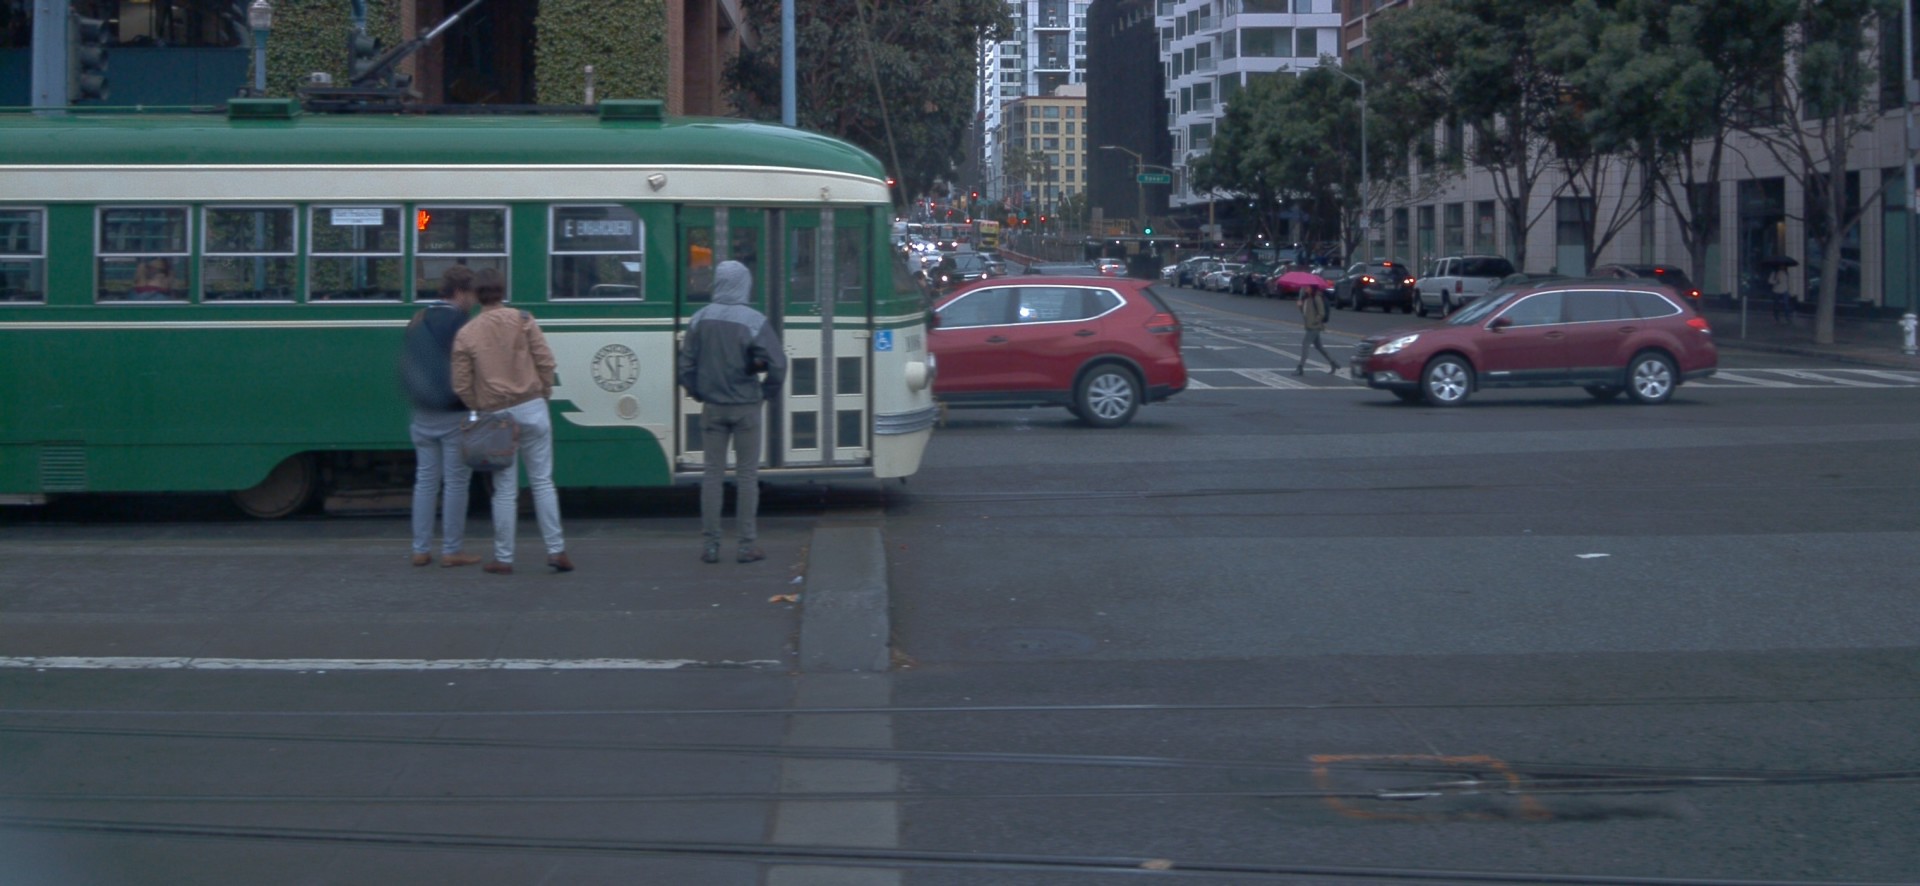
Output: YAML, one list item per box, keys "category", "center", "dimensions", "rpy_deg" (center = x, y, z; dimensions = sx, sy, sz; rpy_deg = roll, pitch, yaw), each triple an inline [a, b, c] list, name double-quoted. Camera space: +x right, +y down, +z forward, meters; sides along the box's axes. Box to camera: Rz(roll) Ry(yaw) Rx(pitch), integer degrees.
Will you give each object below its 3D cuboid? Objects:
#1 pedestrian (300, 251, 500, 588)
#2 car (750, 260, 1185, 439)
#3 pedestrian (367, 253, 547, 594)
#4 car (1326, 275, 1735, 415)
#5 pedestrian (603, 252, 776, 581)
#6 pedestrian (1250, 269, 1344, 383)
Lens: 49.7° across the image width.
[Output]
- category: "pedestrian"
  center: [-3.377, -0.188, 12.513]
  dimensions: [0.885, 1.920, 0.819]
  rpy_deg: [-1, 1, -43]
- category: "car"
  center: [0.017, -1.090, 23.068]
  dimensions: [4.640, 1.847, 2.021]
  rpy_deg: [0, 3, -5]
- category: "pedestrian"
  center: [-2.937, -0.149, 12.193]
  dimensions: [0.866, 1.920, 0.864]
  rpy_deg: [0, 1, -2]
- category: "car"
  center: [7.423, -1.328, 27.291]
  dimensions: [4.778, 1.697, 2.050]
  rpy_deg: [0, 4, -4]
- category: "pedestrian"
  center: [-1.634, -0.199, 12.660]
  dimensions: [0.866, 1.920, 0.864]
  rpy_deg: [0, 1, 6]
- category: "pedestrian"
  center: [5.504, -1.937, 33.932]
  dimensions: [1.186, 1.799, 1.003]
  rpy_deg: [0, 2, -18]
